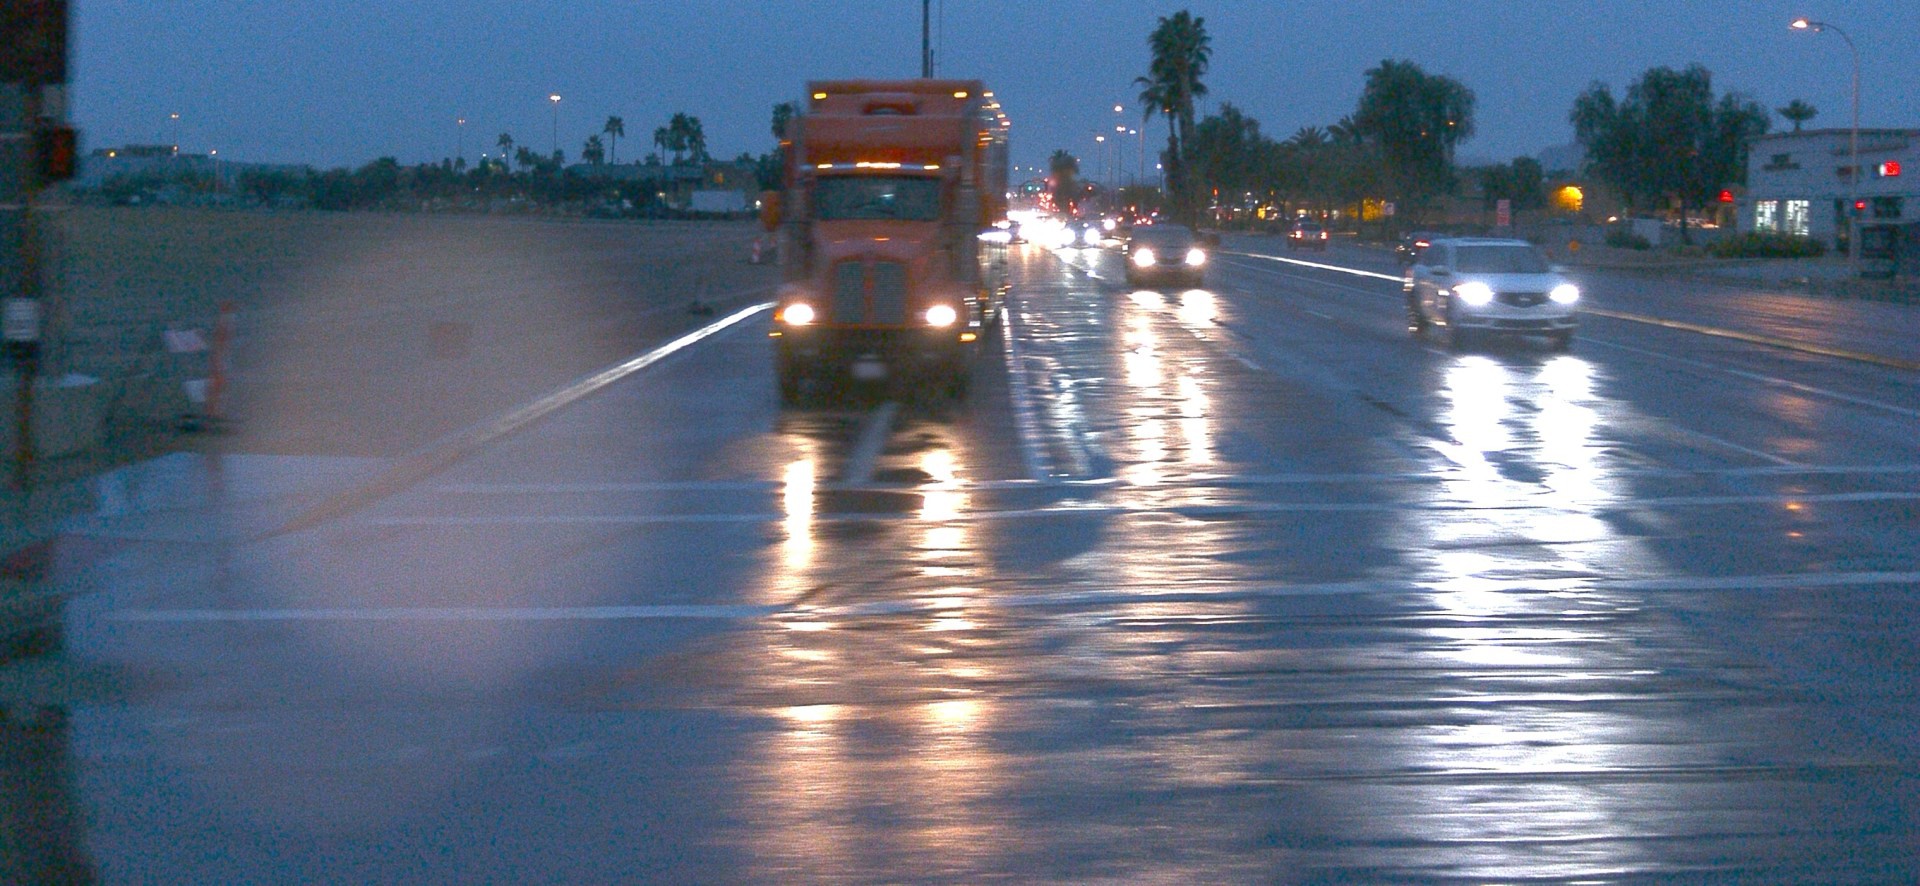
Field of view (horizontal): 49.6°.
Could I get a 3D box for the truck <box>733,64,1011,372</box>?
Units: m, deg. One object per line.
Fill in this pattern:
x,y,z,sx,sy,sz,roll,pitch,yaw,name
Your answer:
-1.026,-4.049,37.906,3.437,4.290,17.390,1,5,3,truck

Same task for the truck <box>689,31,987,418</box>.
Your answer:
-1.307,-2.869,27.433,3.099,4.265,8.611,0,5,2,truck

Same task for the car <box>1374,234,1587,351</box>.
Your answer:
8.497,-2.564,34.437,2.290,1.773,4.937,0,5,0,car
